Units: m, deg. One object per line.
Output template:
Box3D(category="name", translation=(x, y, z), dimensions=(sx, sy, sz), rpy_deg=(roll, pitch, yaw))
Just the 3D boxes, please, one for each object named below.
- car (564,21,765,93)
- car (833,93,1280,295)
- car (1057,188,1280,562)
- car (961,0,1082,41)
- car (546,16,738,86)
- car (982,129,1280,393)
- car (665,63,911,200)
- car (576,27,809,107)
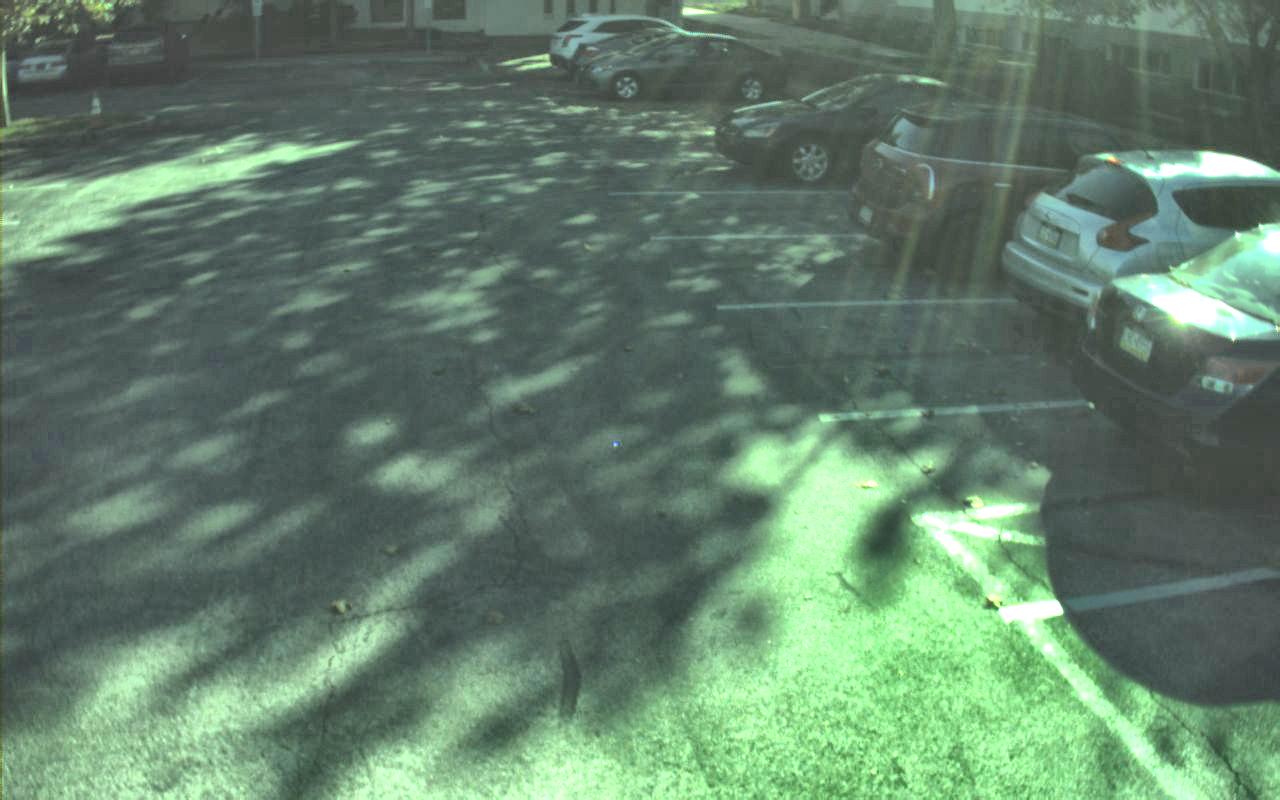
Box3D(category="car", translation=(0.544, -7.982, 28.583), dimensions=(4.321, 1.566, 1.927), rpy_deg=(-5, 17, -13))
Box3D(category="car", translation=(4.297, -2.144, 11.871), dimensions=(4.461, 1.629, 1.950), rpy_deg=(-5, 17, -13))
Box3D(category="car", translation=(4.928, -0.351, 6.694), dimensions=(4.468, 1.579, 1.955), rpy_deg=(-4, 16, -8))
Box3D(category="car", translation=(14.096, -14.433, 43.681), dimensions=(2.173, 2.078, 5.568), rpy_deg=(-5, 17, -12))
Box3D(category="car", translation=(0.020, -8.792, 30.956), dimensions=(4.469, 1.641, 1.961), rpy_deg=(-5, 17, -15))
Box3D(category="car", translation=(5.061, -1.273, 9.346), dimensions=(4.304, 1.615, 1.916), rpy_deg=(-5, 17, -14))
Box3D(category="car", translation=(1.949, -3.946, 17.661), dimensions=(1.945, 1.567, 4.544), rpy_deg=(-6, 17, -15))
Box3D(category="car", translation=(1.074, -7.147, 26.314), dimensions=(4.662, 1.591, 1.994), rpy_deg=(-4, 17, -10))
